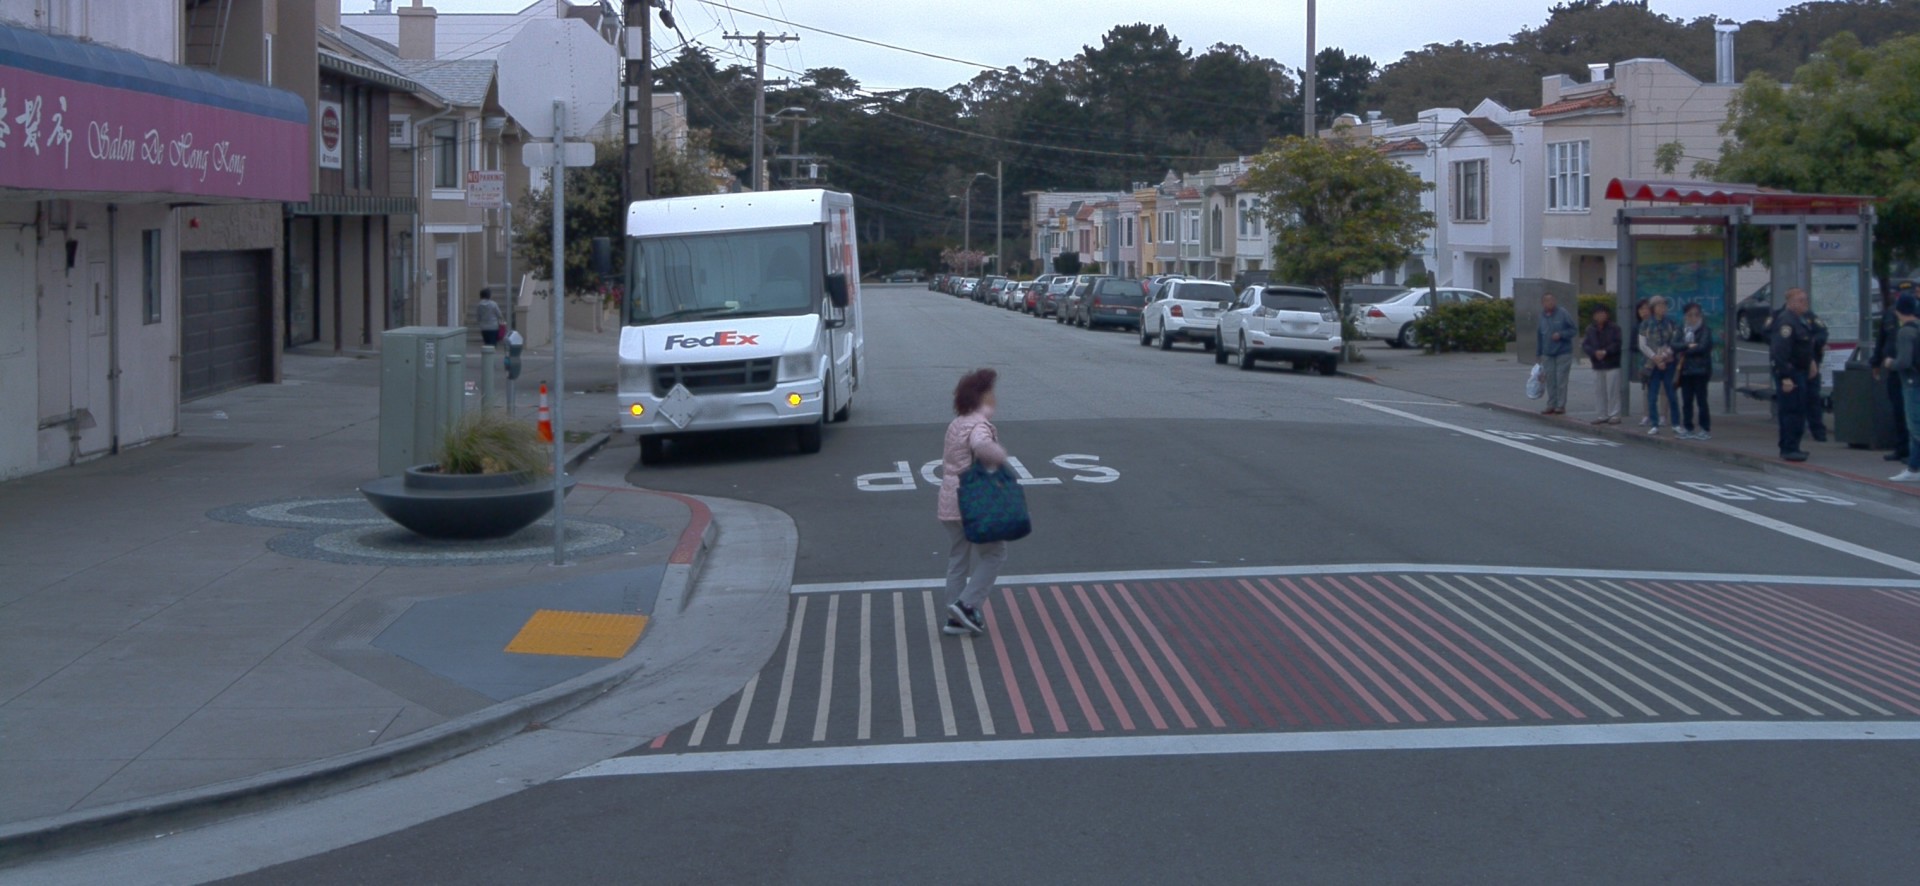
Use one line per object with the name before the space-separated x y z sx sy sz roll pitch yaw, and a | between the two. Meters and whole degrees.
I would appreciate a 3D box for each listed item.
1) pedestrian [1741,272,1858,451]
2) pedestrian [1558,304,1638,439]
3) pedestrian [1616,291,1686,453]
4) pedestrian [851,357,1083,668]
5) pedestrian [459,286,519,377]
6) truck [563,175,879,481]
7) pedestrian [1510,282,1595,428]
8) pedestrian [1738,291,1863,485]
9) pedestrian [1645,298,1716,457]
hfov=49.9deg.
pedestrian | 9.264 -0.920 22.786 0.935 1.906 0.848 0 2 -1
pedestrian | 7.991 -0.906 25.817 0.713 1.607 0.682 -2 3 -41
pedestrian | 8.103 -0.854 24.183 0.758 1.827 0.686 0 2 20
pedestrian | 0.032 0.323 11.019 0.856 1.476 0.908 -2 3 -37
pedestrian | -8.885 -2.116 38.953 0.938 1.678 0.686 0 2 2
truck | -2.518 -1.569 24.165 2.688 3.011 7.389 0 6 1
pedestrian | 7.961 -1.199 27.690 0.924 1.876 0.872 1 2 29
pedestrian | 8.434 -0.583 20.702 0.992 1.838 0.809 -2 3 -42
pedestrian | 8.148 -0.754 23.349 0.683 1.727 0.712 0 2 13
